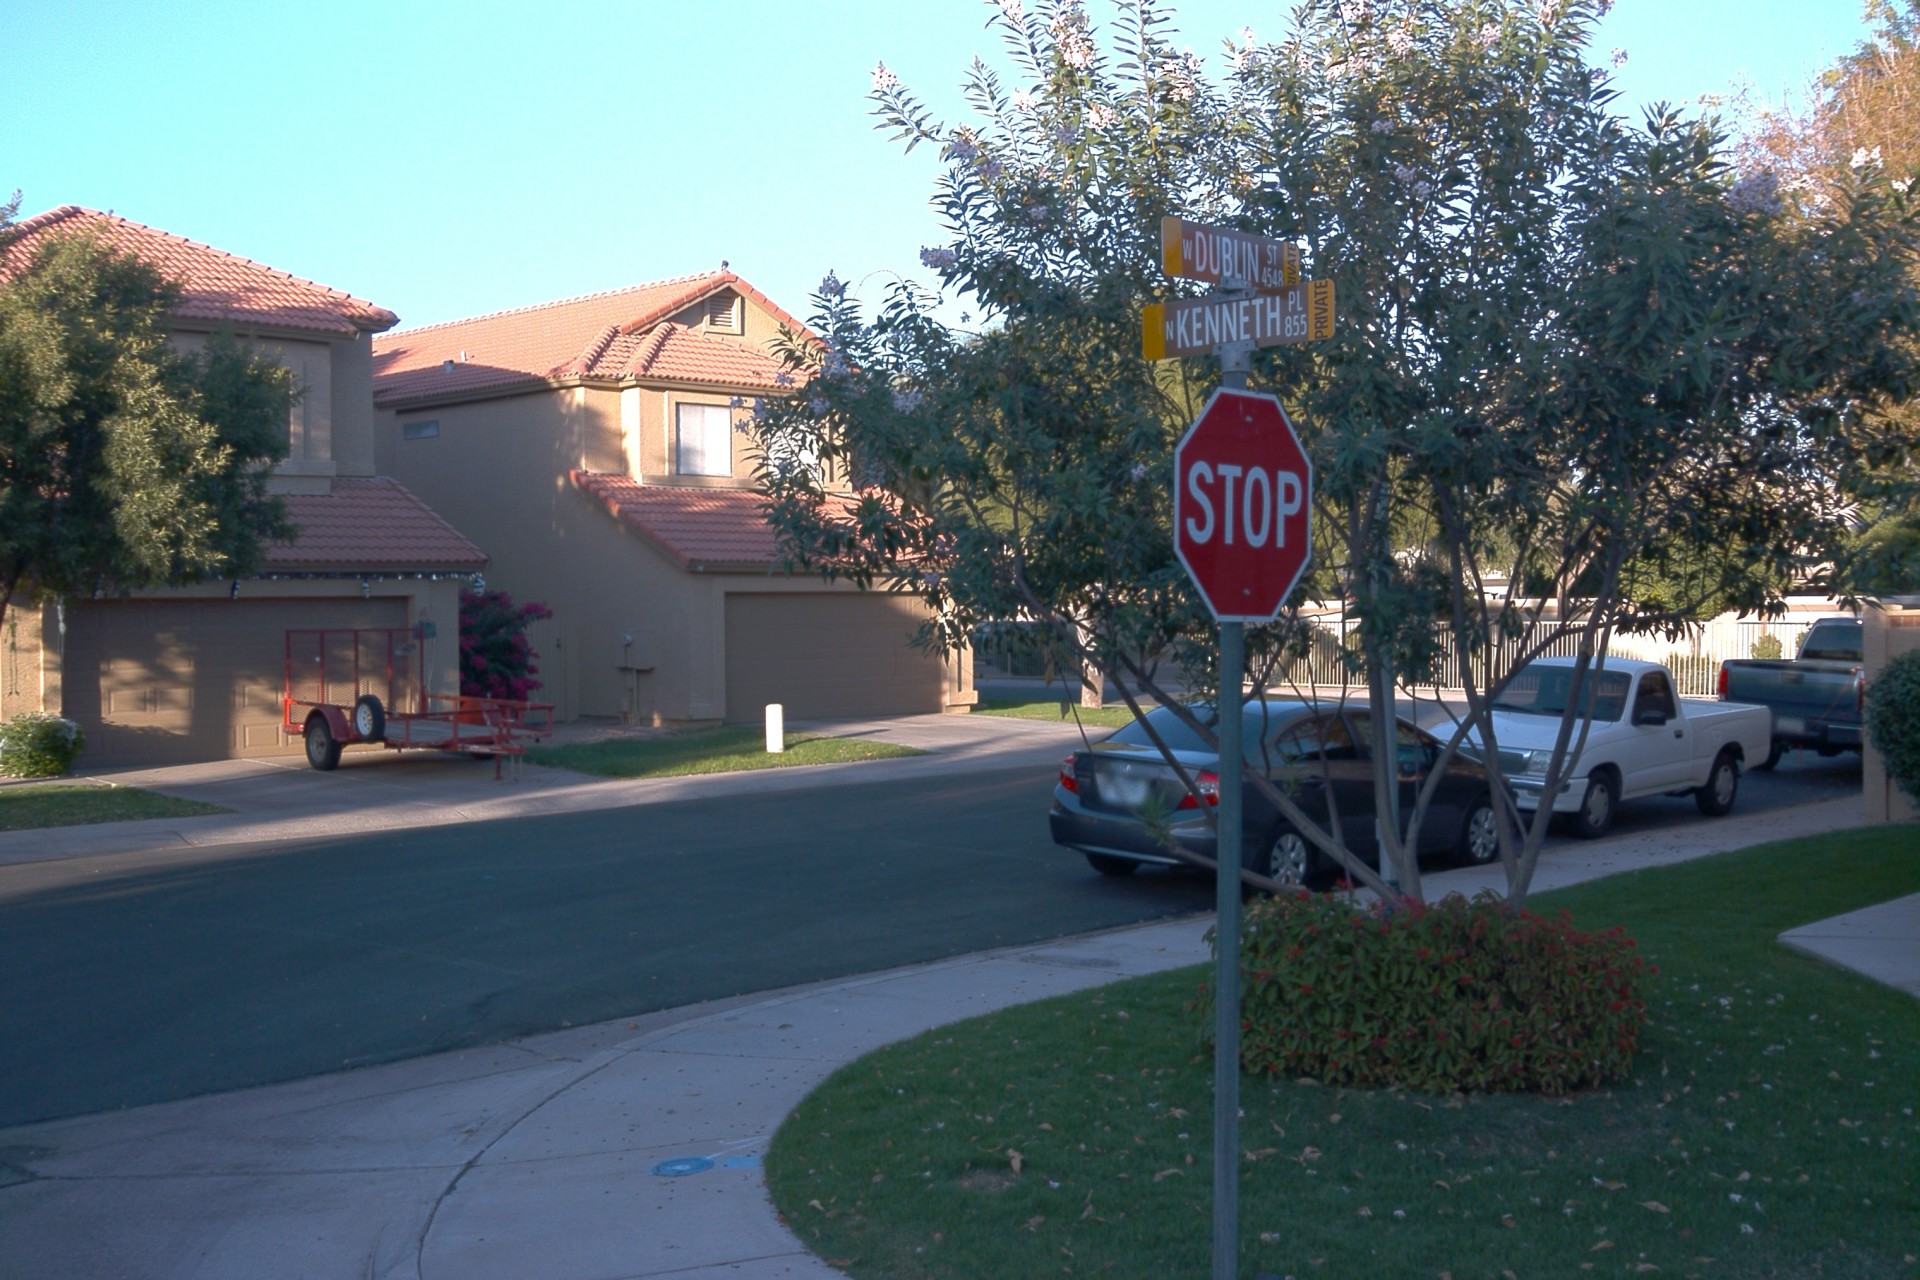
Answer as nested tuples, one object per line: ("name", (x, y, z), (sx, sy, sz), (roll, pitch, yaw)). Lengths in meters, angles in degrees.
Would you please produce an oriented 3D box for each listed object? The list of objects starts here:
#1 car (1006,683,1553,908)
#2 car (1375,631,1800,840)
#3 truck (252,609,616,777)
("car", (2.633, 1.098, 16.345), (2.054, 1.470, 4.462), (0, -1, 44))
("car", (6.213, 0.841, 20.250), (2.021, 1.800, 4.702), (0, -1, 44))
("truck", (-6.636, 0.624, 25.975), (2.622, 1.900, 4.348), (1, -1, -43))
